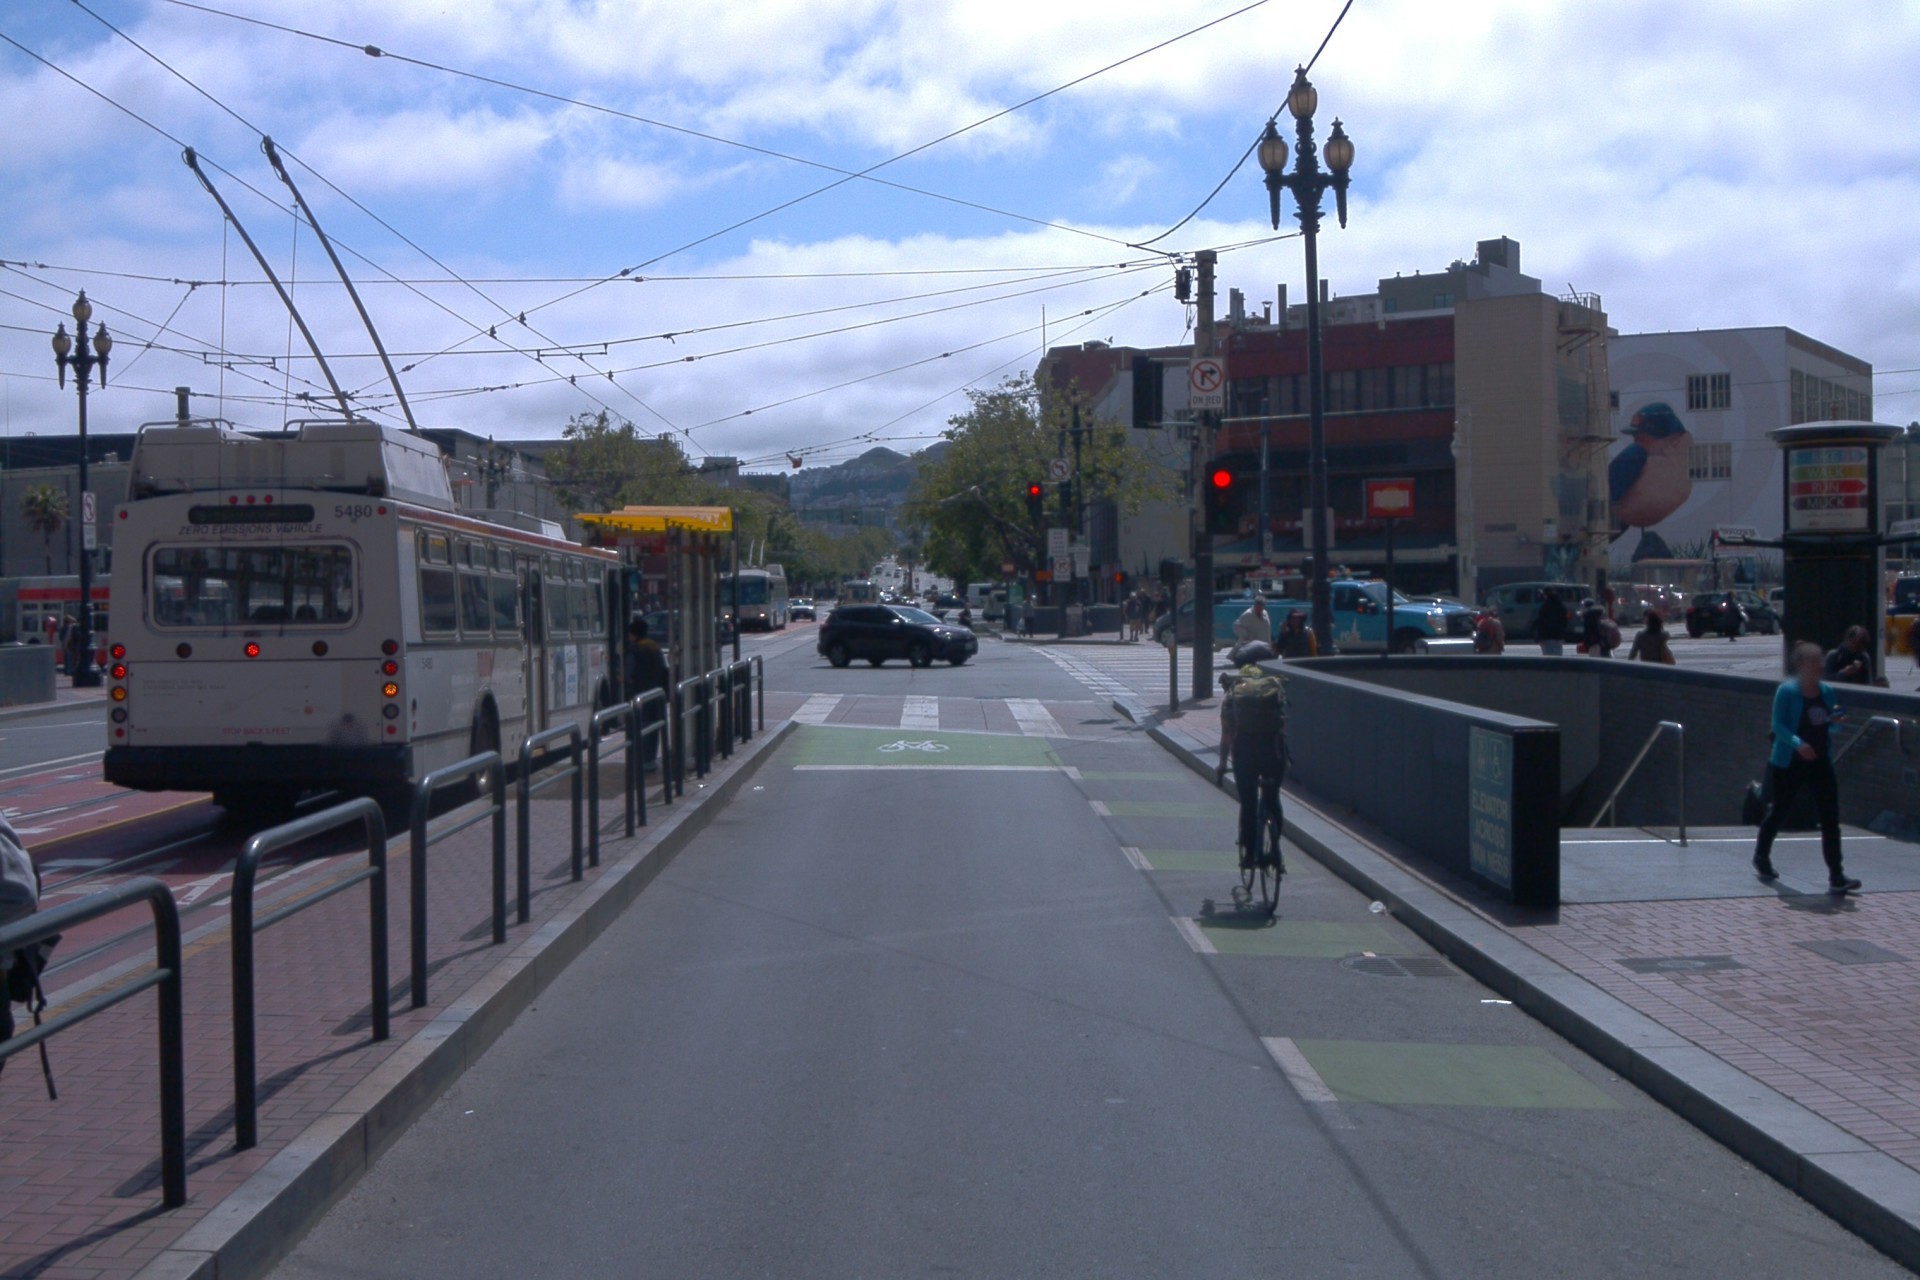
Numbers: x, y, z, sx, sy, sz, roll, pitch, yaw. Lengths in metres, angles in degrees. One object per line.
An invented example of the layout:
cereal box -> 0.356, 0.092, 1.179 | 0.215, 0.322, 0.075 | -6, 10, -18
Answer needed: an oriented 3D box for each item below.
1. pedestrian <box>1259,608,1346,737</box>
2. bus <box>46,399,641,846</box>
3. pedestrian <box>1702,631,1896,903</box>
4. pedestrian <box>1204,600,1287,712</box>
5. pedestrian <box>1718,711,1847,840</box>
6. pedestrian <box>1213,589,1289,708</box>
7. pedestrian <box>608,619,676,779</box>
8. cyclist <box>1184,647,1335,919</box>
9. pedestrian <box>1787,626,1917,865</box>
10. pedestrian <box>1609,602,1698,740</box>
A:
pedestrian -> 4.708, 0.438, 28.330 | 1.045, 1.750, 0.818 | 0, 1, -1
bus -> -6.023, -0.221, 23.032 | 3.070, 3.670, 12.172 | 0, 1, 0
pedestrian -> 5.607, 0.815, 13.791 | 0.749, 1.740, 1.054 | 0, 1, -10
pedestrian -> 4.713, 0.255, 33.922 | 1.083, 1.820, 0.884 | 0, 1, 34
pedestrian -> 6.800, 1.107, 17.029 | 0.703, 1.000, 0.902 | 0, 1, -1
pedestrian -> 4.889, 0.131, 34.513 | 1.058, 1.960, 1.084 | 0, 1, 20
pedestrian -> -3.383, 0.619, 21.908 | 0.667, 1.680, 0.622 | 0, 1, -5
cyclist -> 2.084, 0.954, 14.526 | 0.807, 1.770, 1.801 | 0, 1, 0
pedestrian -> 8.411, 0.970, 19.417 | 0.779, 2.200, 0.956 | 0, 1, -2
pedestrian -> 8.928, 0.384, 26.492 | 0.755, 1.740, 0.858 | 0, 1, -10
